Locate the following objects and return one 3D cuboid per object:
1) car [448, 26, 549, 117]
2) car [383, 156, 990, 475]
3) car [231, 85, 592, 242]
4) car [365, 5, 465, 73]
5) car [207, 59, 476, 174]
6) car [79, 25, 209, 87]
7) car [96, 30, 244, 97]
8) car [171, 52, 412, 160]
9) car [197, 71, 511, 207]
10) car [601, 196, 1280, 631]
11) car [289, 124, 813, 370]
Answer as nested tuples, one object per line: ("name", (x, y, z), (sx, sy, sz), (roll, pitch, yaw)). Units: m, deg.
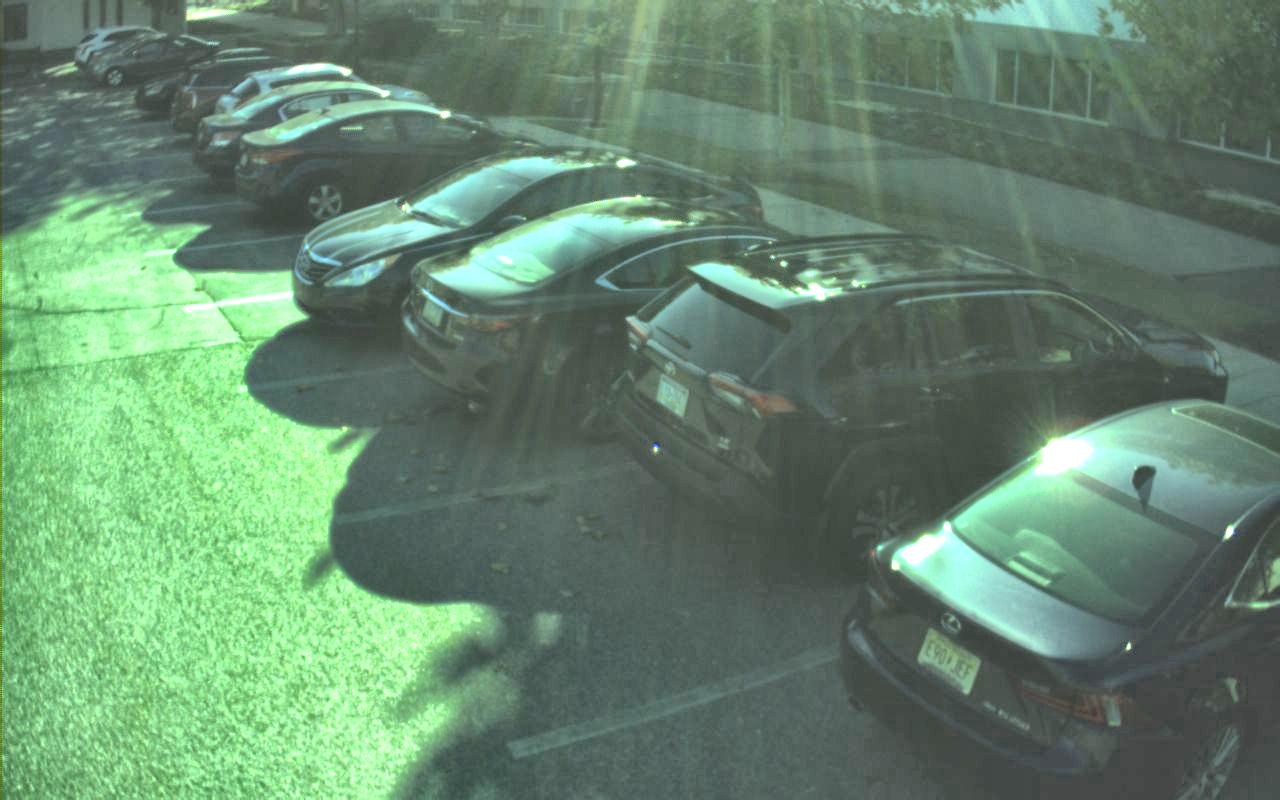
("car", (-3.194, -7.353, 27.299), (2.045, 1.790, 4.608), (-3, 17, -7))
("car", (0.485, -0.892, 9.830), (4.484, 1.584, 1.953), (-11, 19, -31))
("car", (-3.073, -3.232, 16.308), (4.490, 1.549, 1.934), (-10, 19, -28))
("car", (-6.501, -10.207, 34.361), (2.009, 1.723, 4.689), (-7, 18, -20))
("car", (-5.221, -4.948, 20.860), (4.395, 1.564, 1.927), (-10, 18, -27))
("car", (-17.322, -11.850, 39.585), (4.493, 1.663, 1.972), (-12, 19, -32))
("car", (-14.650, -10.345, 35.639), (4.613, 1.589, 1.954), (-10, 18, -27))
("car", (-6.765, -5.670, 22.930), (4.468, 1.610, 1.955), (-9, 18, -26))
("car", (-4.402, -4.024, 18.368), (4.507, 1.572, 1.955), (-9, 18, -26))
("car", (2.239, -0.228, 7.879), (4.532, 1.674, 1.977), (-10, 18, -27))
("car", (-0.818, -1.608, 11.779), (4.579, 1.600, 1.987), (-10, 18, -27))
